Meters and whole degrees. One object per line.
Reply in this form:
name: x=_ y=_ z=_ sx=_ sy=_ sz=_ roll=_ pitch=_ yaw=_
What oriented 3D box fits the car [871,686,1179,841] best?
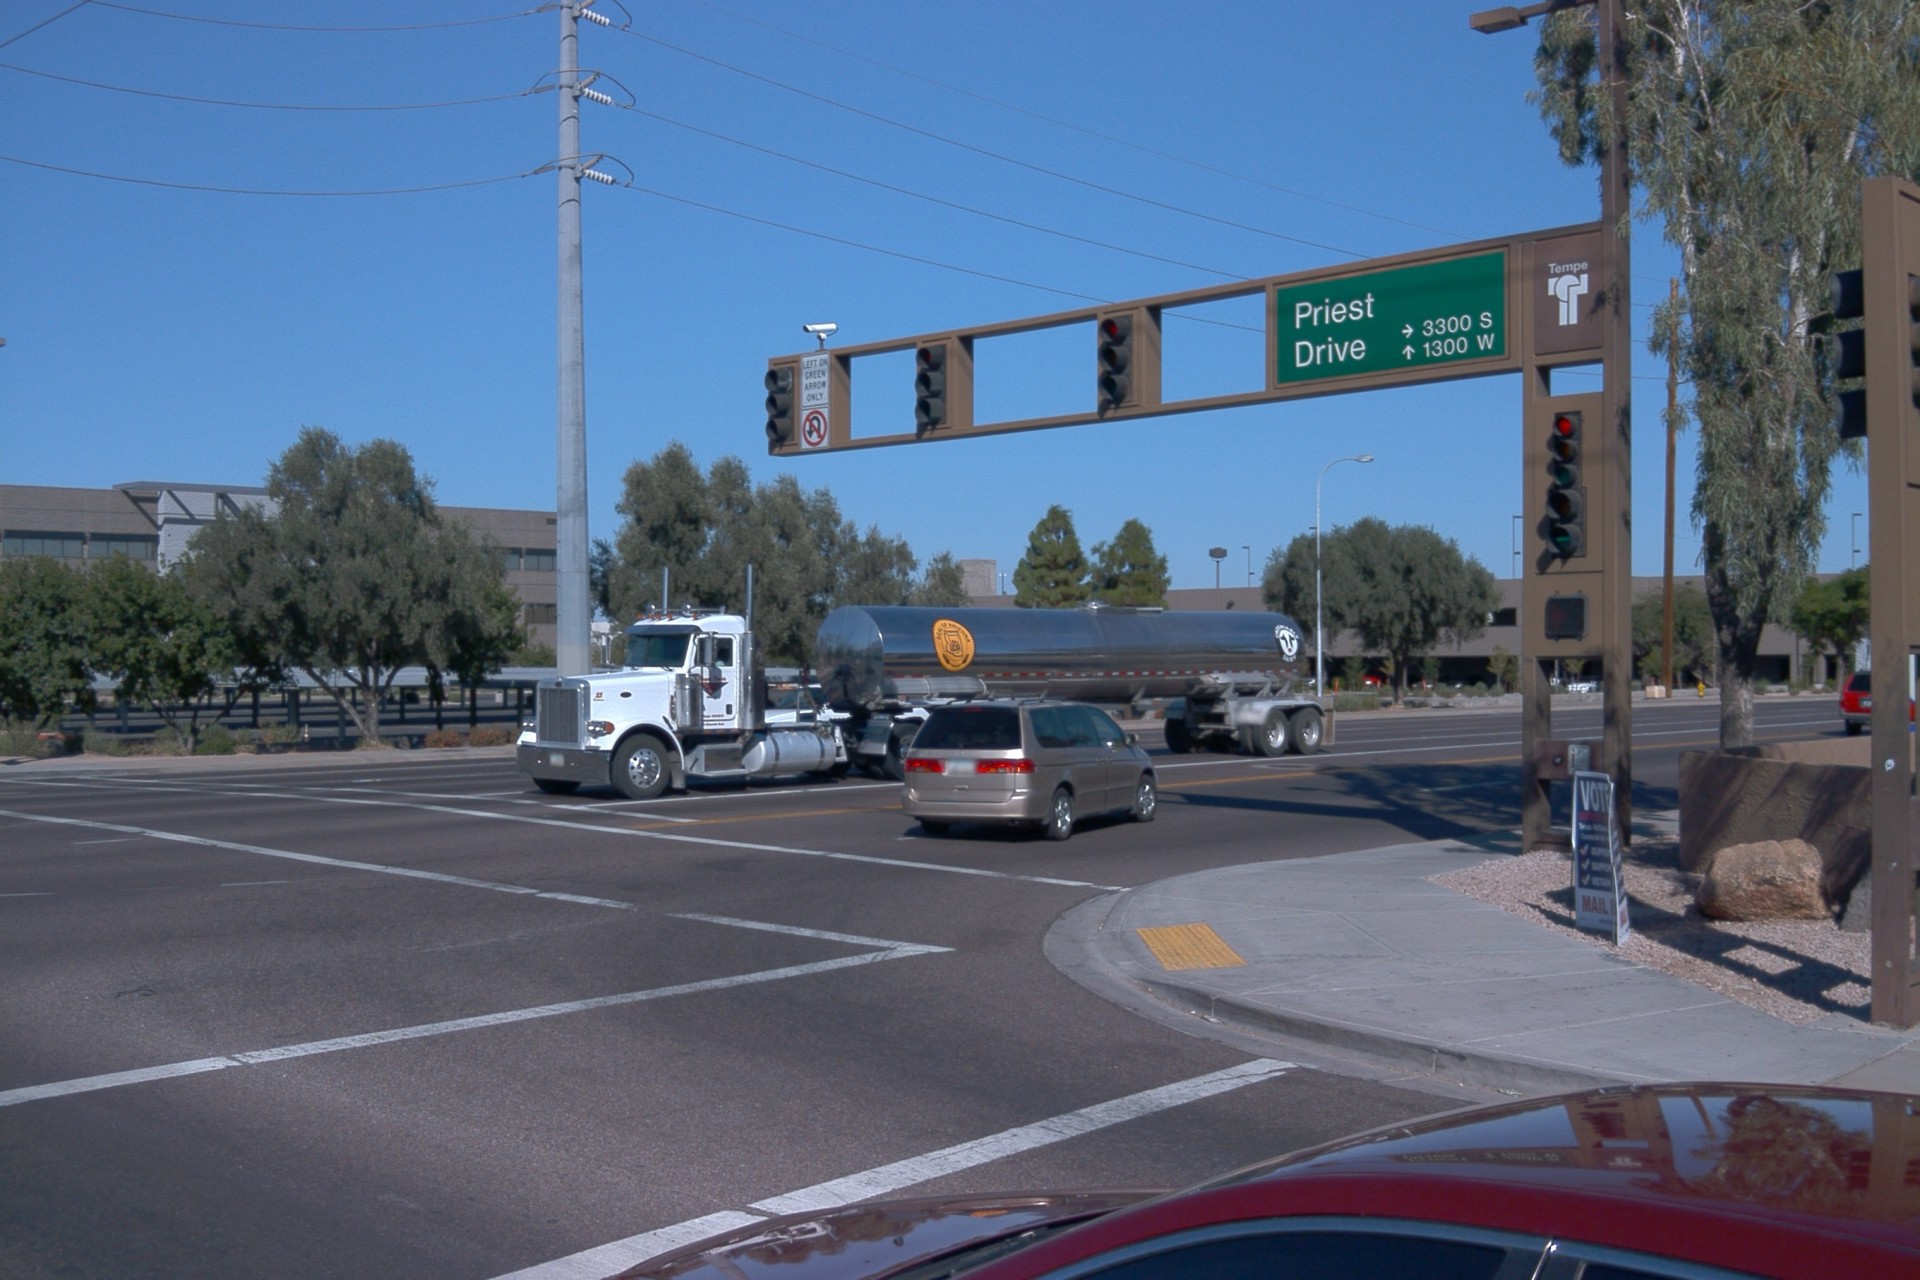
car: x=0.982 y=1.531 z=27.523 sx=2.239 sy=1.810 sz=4.907 roll=0 pitch=-1 yaw=26

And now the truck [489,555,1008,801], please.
truck: x=-3.274 y=0.616 z=34.760 sx=3.179 sy=3.610 sz=8.600 roll=0 pitch=-1 yaw=44
